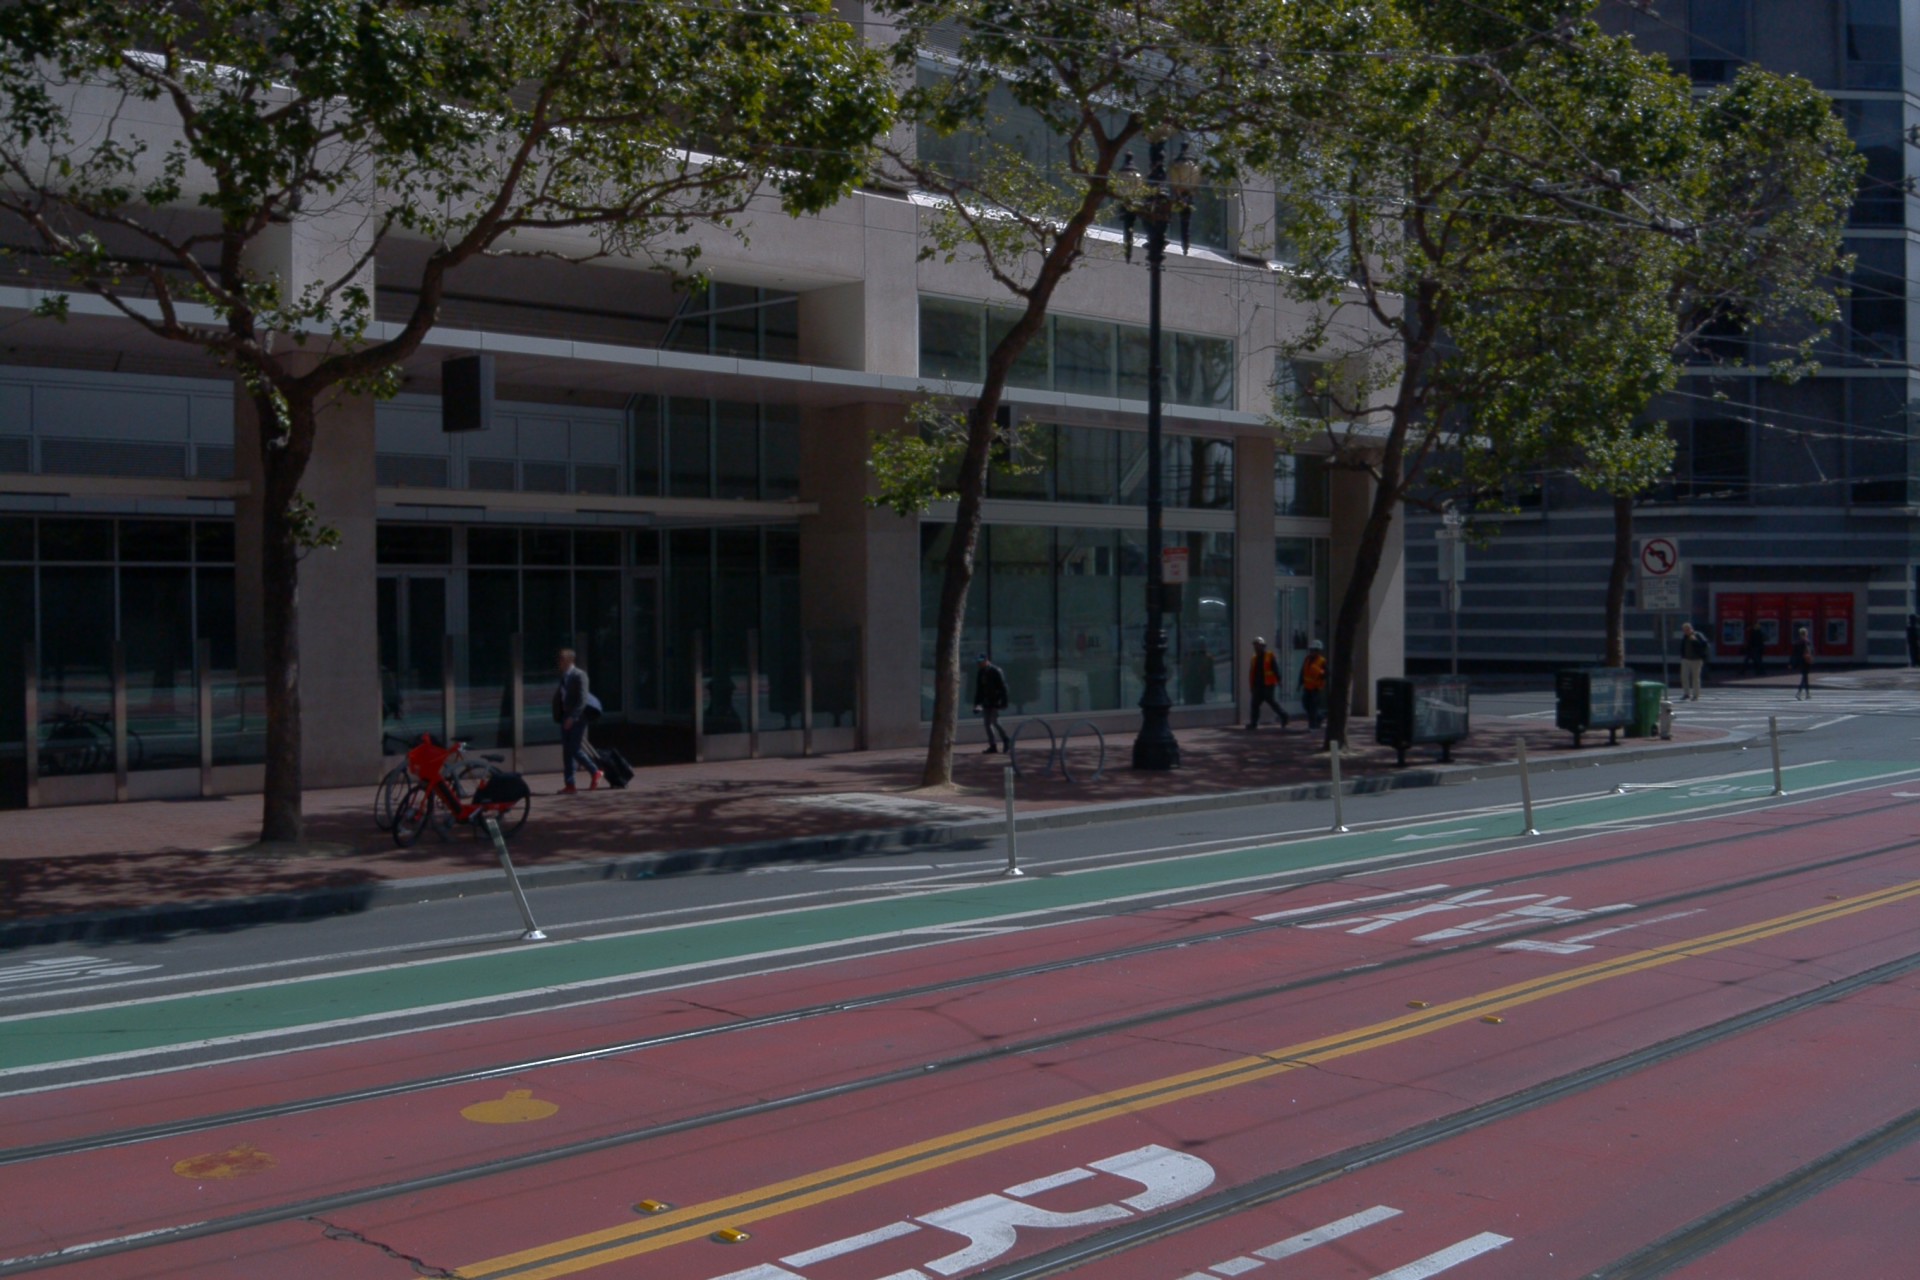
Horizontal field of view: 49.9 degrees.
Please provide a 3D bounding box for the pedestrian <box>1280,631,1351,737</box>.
[{"bbox_3d":[6.543,0.790,37.969,1.042,1.910,0.846,-1,1,-44],"label":"pedestrian"}]

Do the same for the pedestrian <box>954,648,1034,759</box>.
[{"bbox_3d":[0.537,0.987,32.618,1.011,1.710,0.760,-1,1,-41],"label":"pedestrian"}]

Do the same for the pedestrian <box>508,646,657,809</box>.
[{"bbox_3d":[-4.754,1.071,26.020,0.976,1.950,1.558,1,1,44],"label":"pedestrian"}]
